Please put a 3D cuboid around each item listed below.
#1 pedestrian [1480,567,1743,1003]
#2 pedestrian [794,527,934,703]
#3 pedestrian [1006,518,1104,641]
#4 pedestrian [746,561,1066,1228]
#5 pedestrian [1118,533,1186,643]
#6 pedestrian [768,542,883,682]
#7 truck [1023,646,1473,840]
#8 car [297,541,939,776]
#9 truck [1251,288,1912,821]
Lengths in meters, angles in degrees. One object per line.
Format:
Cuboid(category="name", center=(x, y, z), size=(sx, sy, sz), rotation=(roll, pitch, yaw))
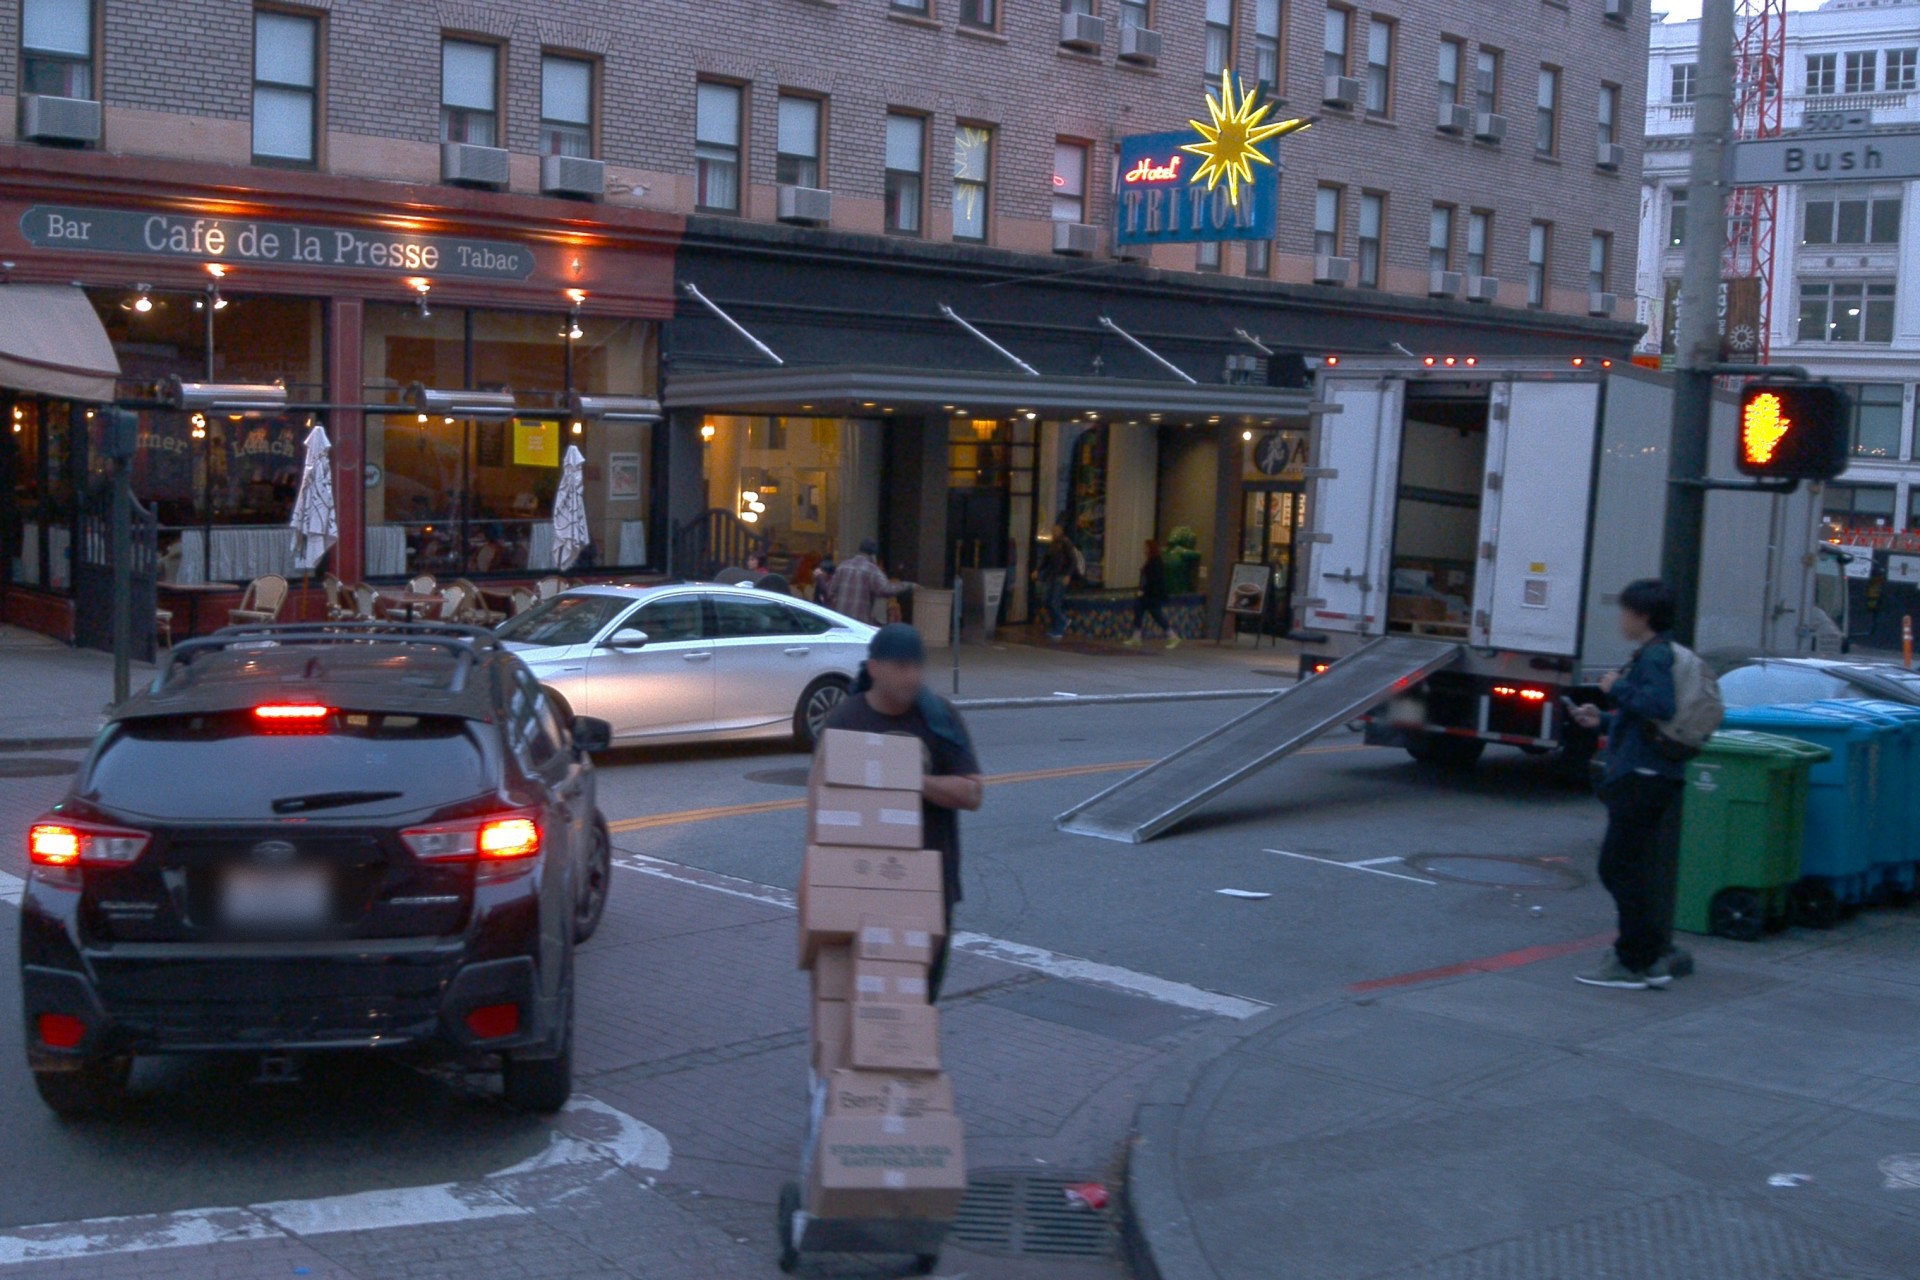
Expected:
Cuboid(category="pedestrian", center=(2.854, 0.592, 9.021), size=(0.885, 1.796, 0.674), rotation=(0, 0, 44))
Cuboid(category="pedestrian", center=(-1.066, -0.273, 23.029), size=(1.197, 1.906, 1.104), rotation=(0, 0, 23))
Cuboid(category="pedestrian", center=(1.543, -0.959, 33.385), size=(0.971, 1.950, 1.279), rotation=(0, 0, -41))
Cuboid(category="pedestrian", center=(-0.223, 0.778, 6.961), size=(0.975, 2.060, 1.135), rotation=(0, 0, -6))
Cuboid(category="pedestrian", center=(3.091, -0.834, 33.189), size=(0.917, 1.760, 0.870), rotation=(0, 0, -8))
Cuboid(category="pedestrian", center=(-1.608, -0.335, 24.596), size=(1.031, 1.631, 0.911), rotation=(0, 0, -42))
Cuboid(category="truck", center=(2.171, 0.649, 14.652), size=(1.006, 1.154, 4.038), rotation=(0, 1, 44))
Cuboid(category="car", center=(-2.684, 0.102, 16.919), size=(4.808, 1.660, 2.158), rotation=(-1, 1, -43))
Cuboid(category="truck", center=(5.859, -0.655, 18.472), size=(2.893, 3.840, 7.201), rotation=(0, 1, 42))
